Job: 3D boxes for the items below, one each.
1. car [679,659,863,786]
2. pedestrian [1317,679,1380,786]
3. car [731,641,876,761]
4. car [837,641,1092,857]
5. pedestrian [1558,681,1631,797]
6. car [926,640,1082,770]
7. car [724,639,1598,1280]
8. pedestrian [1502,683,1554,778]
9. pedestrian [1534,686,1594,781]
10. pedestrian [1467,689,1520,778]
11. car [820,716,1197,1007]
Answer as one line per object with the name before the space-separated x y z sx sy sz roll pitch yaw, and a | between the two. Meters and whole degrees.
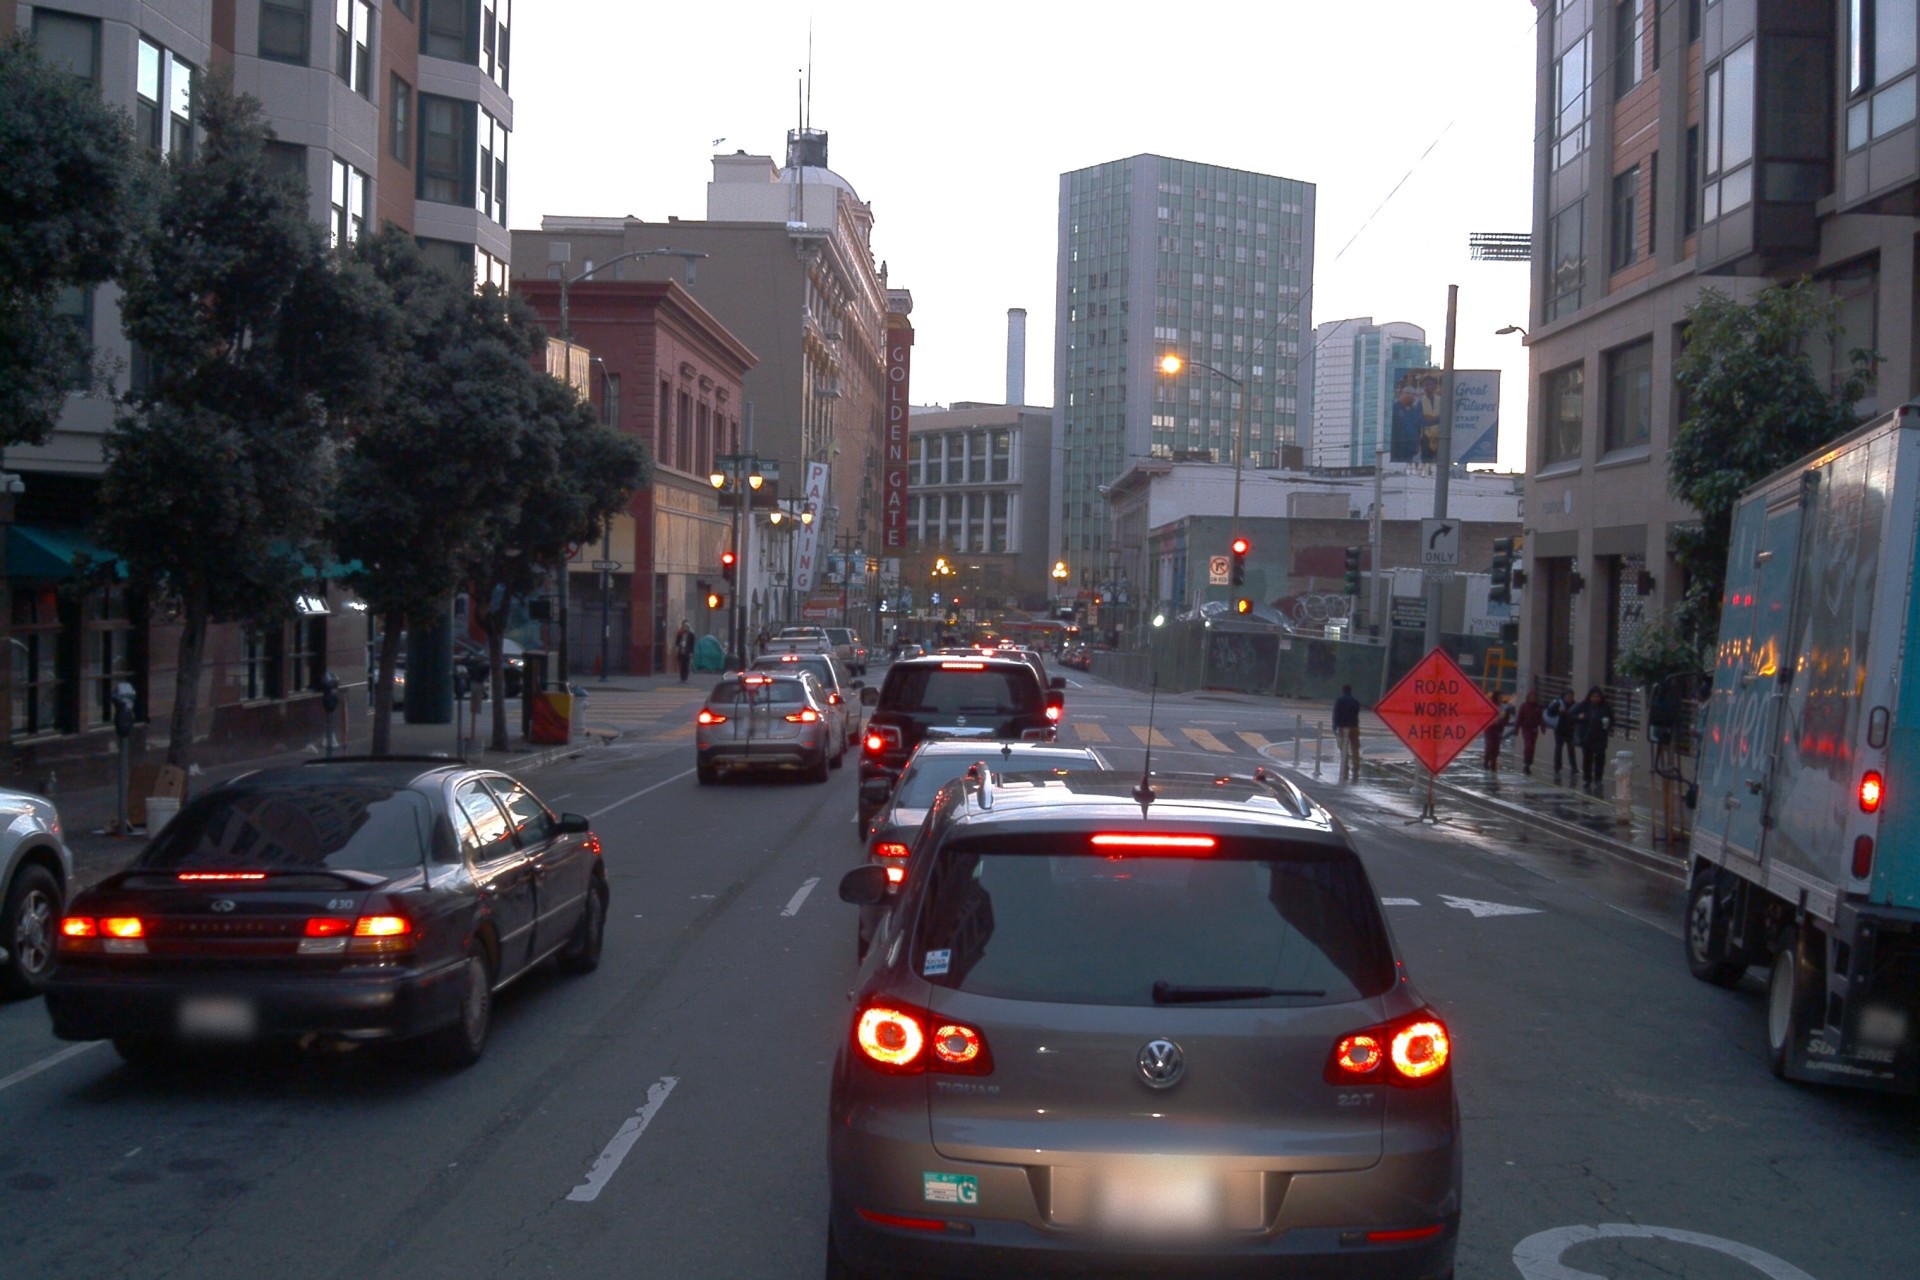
car | -2.614 1.112 29.108 2.110 1.572 4.118 1 1 1
pedestrian | 6.687 1.579 35.068 0.776 1.790 0.924 1 1 -6
car | -2.657 1.000 35.547 1.896 1.880 4.462 1 1 4
car | 0.036 1.031 21.904 2.368 1.940 5.339 1 1 0
pedestrian | 10.018 1.549 32.183 0.879 1.760 0.905 1 1 4
car | 0.622 0.858 29.391 2.036 1.650 4.678 1 1 1
car | 0.546 1.061 7.023 2.109 2.050 3.981 1 1 2
pedestrian | 9.887 1.563 35.458 0.622 1.610 0.759 1 1 -1
pedestrian | 10.575 1.623 35.669 0.721 1.610 0.846 1 1 -2
pedestrian | 9.283 1.622 35.463 0.668 1.490 0.838 1 1 1
car | 0.292 1.325 13.592 2.089 1.400 4.279 1 1 1
